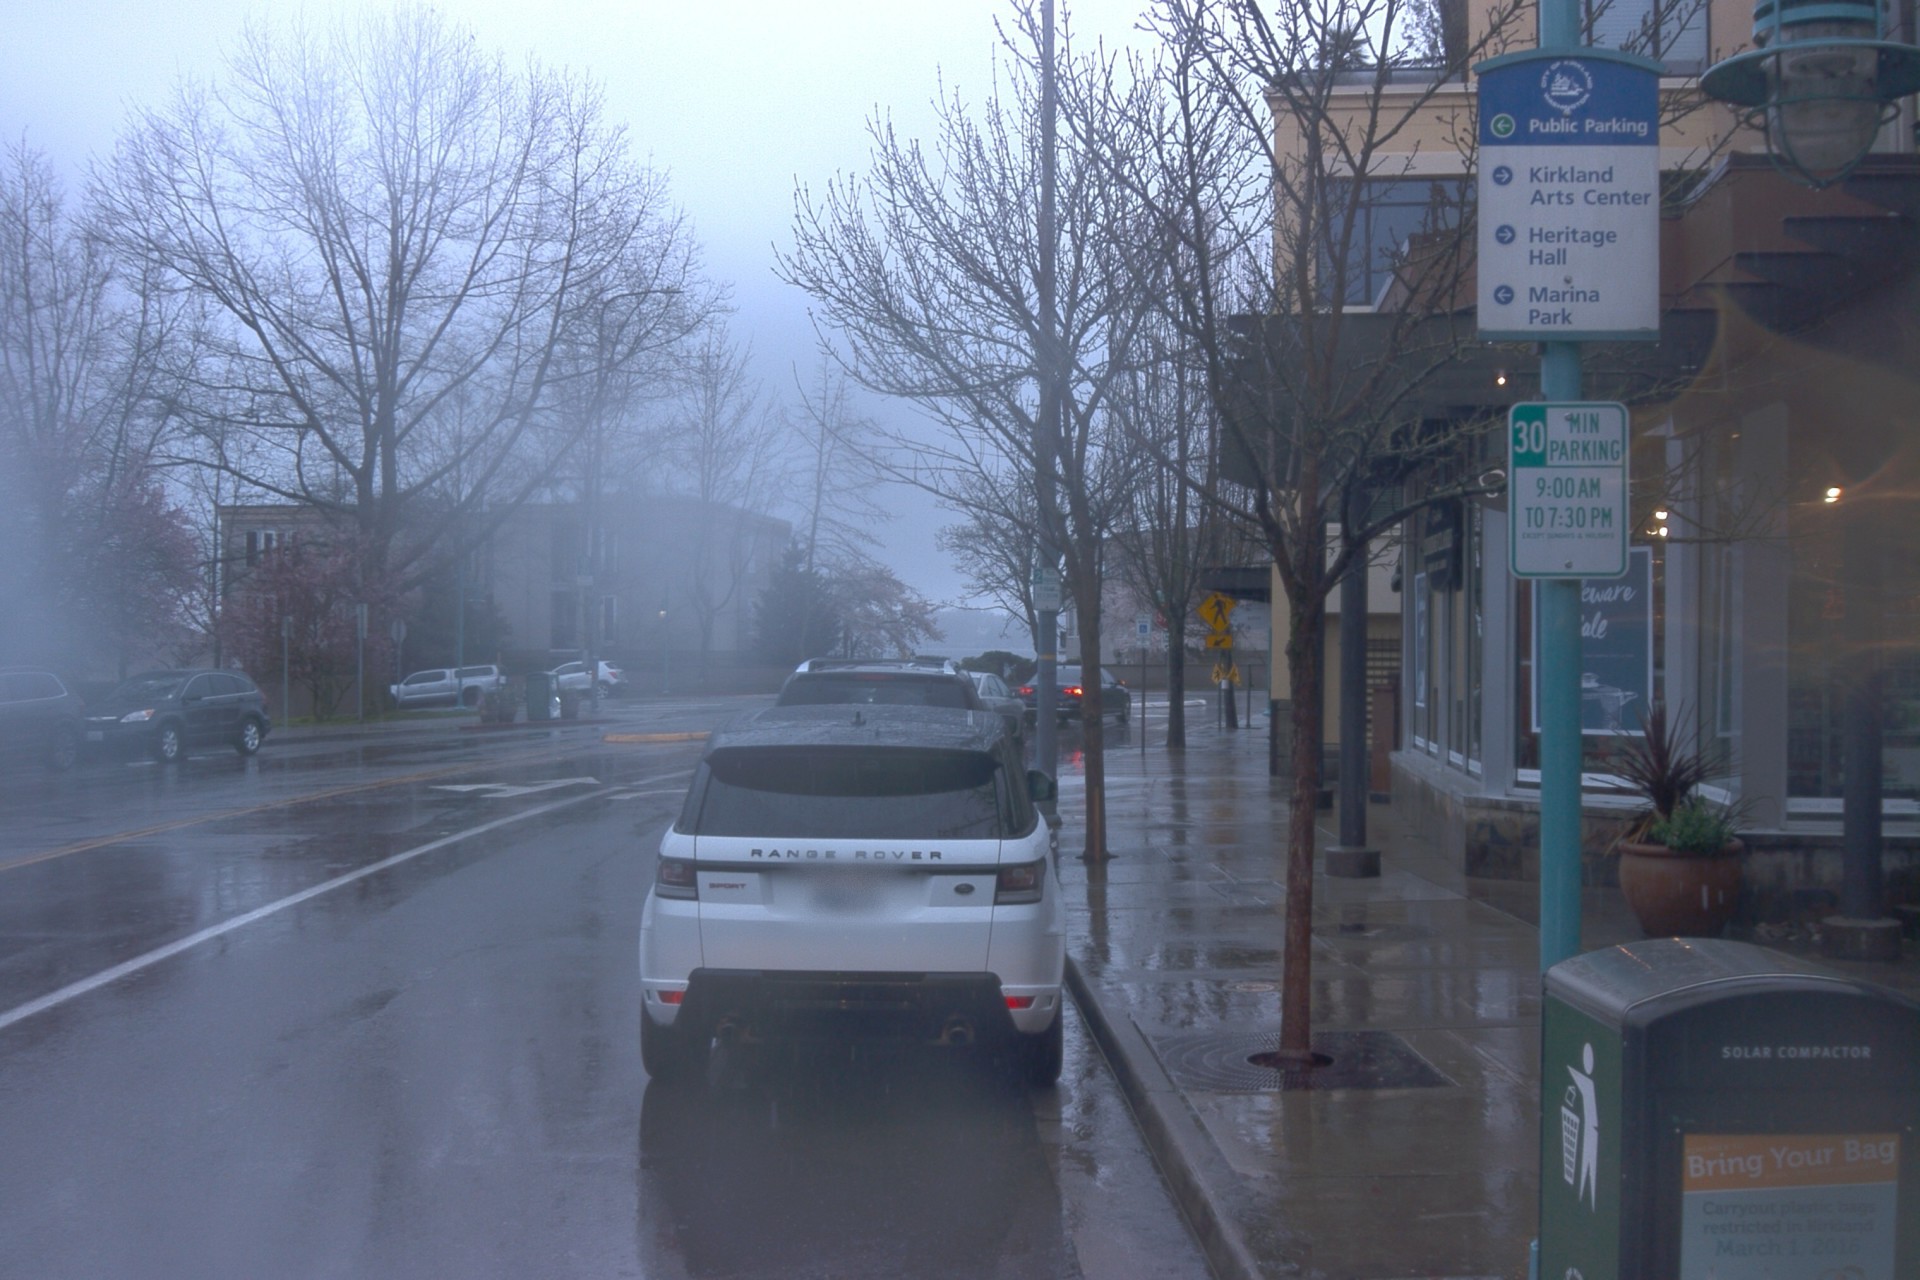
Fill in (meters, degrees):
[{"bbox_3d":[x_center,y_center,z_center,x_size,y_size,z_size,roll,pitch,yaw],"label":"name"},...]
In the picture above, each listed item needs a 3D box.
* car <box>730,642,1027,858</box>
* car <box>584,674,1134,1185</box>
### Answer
[{"bbox_3d":[-0.710,0.833,17.962,2.210,1.560,5.097,1,0,-2],"label":"car"},{"bbox_3d":[-0.518,1.261,11.131,2.265,2.000,5.125,1,0,-2],"label":"car"}]
